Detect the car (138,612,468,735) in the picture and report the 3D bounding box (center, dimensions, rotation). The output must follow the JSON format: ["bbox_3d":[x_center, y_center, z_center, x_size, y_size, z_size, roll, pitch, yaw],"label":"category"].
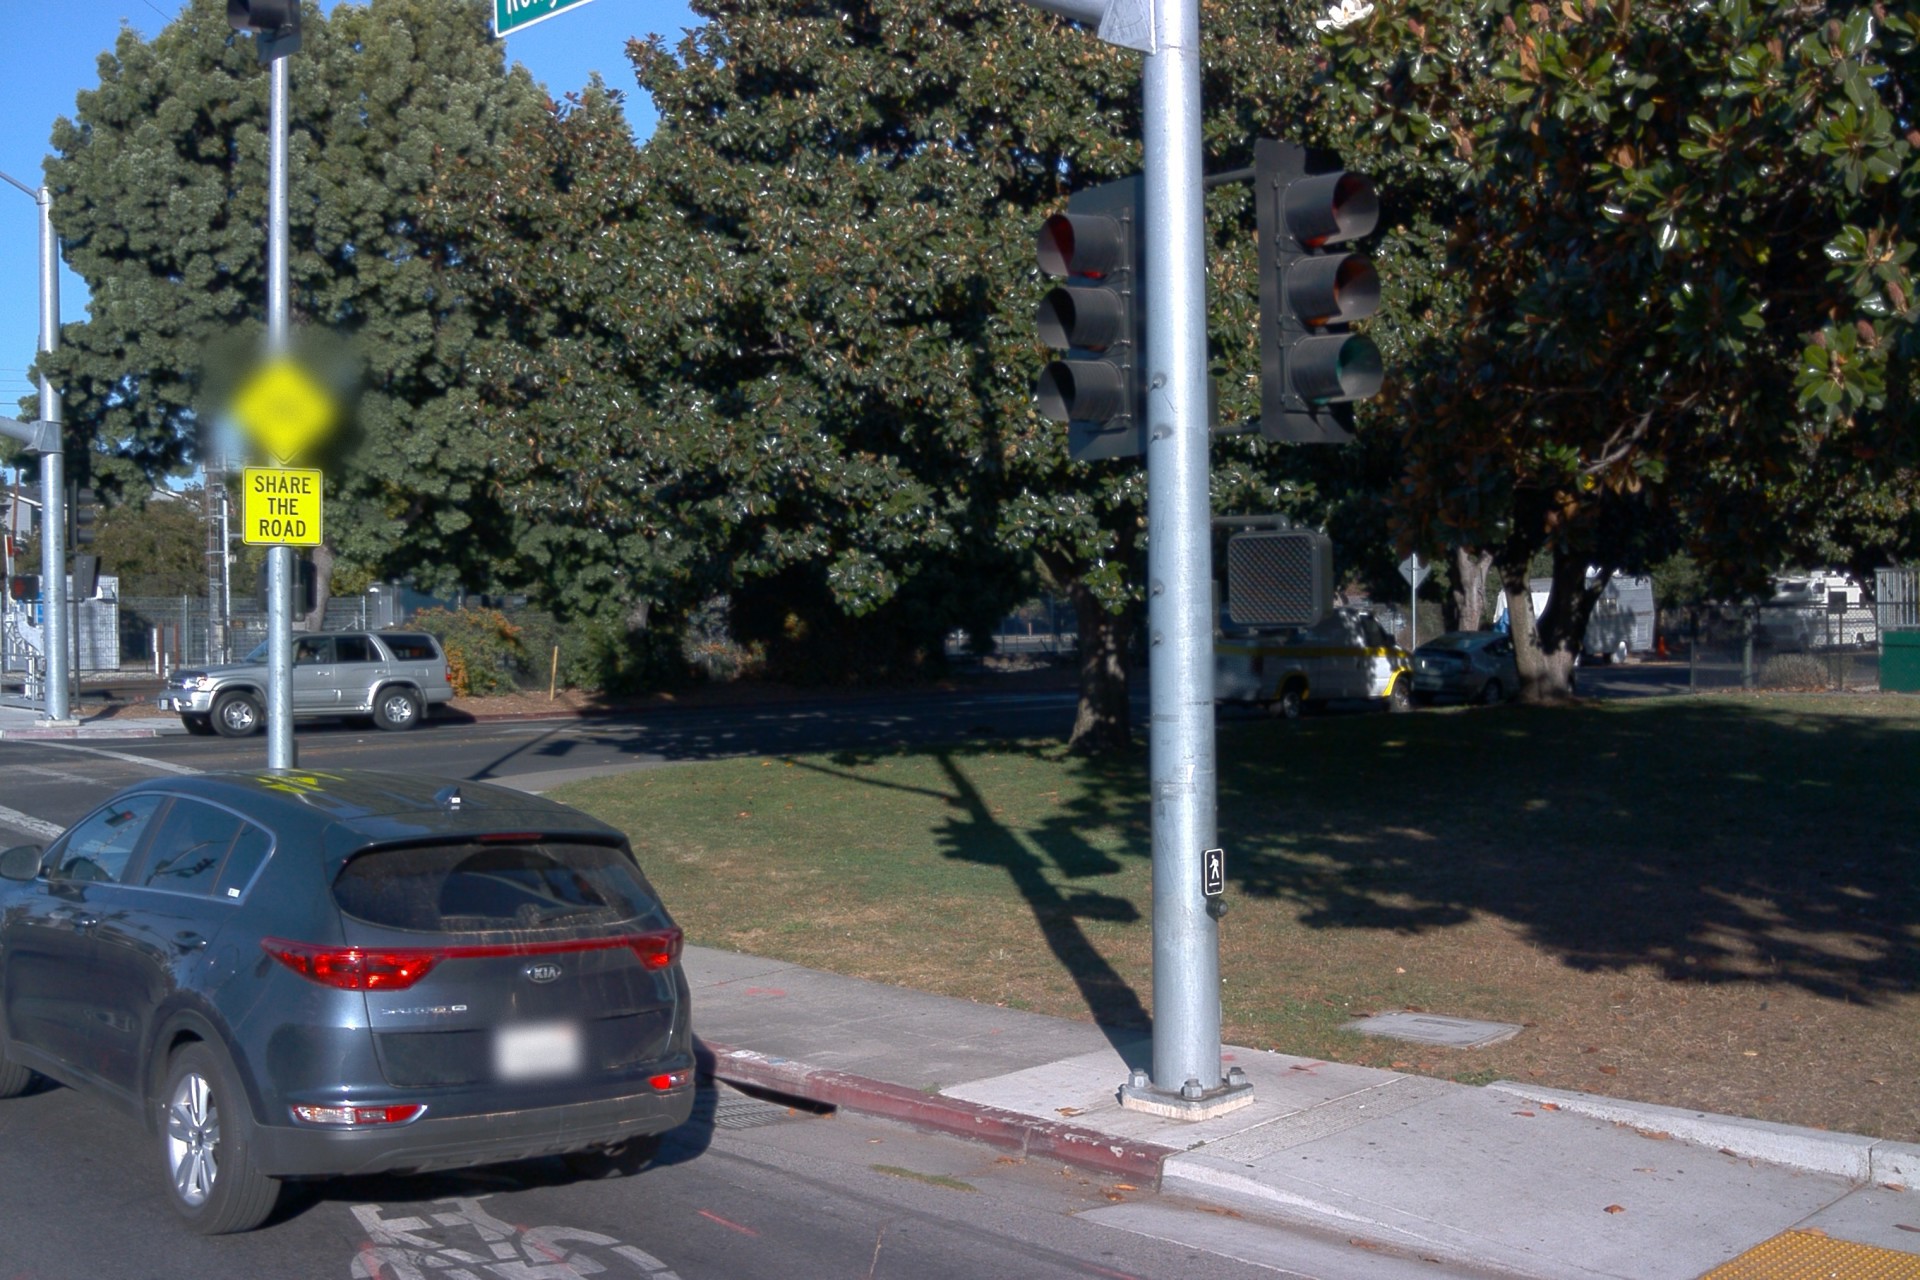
[{"bbox_3d":[-10.893,0.568,34.850,4.806,1.900,2.064,1,-1,-39],"label":"car"}]

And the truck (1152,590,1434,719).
[{"bbox_3d":[6.139,0.287,38.092,2.466,2.180,5.325,0,-1,44],"label":"truck"}]
